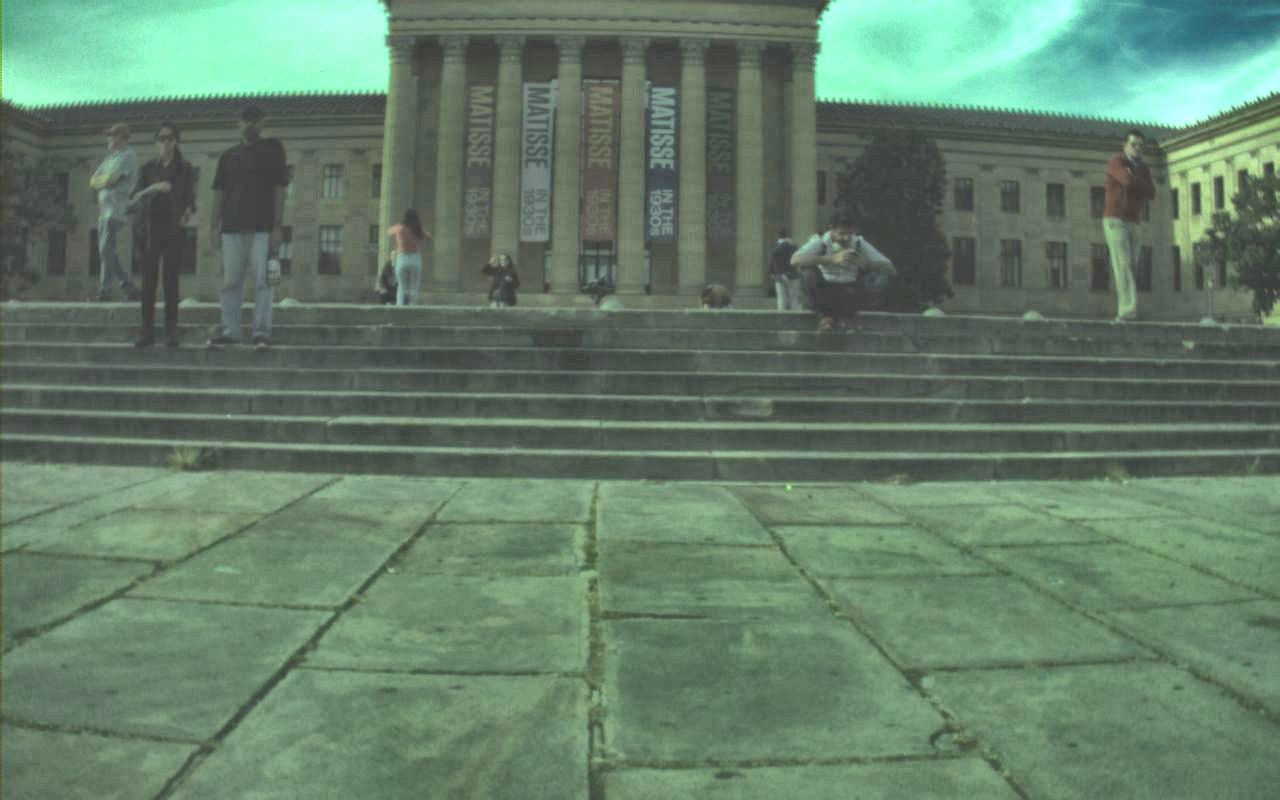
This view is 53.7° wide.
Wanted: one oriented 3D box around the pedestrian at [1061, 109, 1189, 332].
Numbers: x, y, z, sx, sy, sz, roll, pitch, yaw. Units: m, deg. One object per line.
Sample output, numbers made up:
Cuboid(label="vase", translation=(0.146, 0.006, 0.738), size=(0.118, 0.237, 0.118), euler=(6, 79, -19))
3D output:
Cuboid(label="pedestrian", translation=(4.224, -1.508, 10.262), size=(0.800, 1.835, 0.802), euler=(0, 0, -30))

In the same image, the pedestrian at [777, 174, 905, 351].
Cuboid(label="pedestrian", translation=(1.450, -0.976, 9.113), size=(0.899, 1.229, 0.787), euler=(0, 0, 6))

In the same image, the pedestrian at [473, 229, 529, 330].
Cuboid(label="pedestrian", translation=(-2.397, -2.060, 21.656), size=(0.815, 1.675, 0.809), euler=(0, 0, 3))

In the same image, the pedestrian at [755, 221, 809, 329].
Cuboid(label="pedestrian", translation=(2.405, -2.104, 21.334), size=(0.722, 1.759, 0.714), euler=(0, 0, -12))

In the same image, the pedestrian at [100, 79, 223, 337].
Cuboid(label="pedestrian", translation=(-3.447, -1.341, 8.436), size=(0.734, 1.789, 0.746), euler=(0, 0, -12))

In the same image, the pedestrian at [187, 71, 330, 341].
Cuboid(label="pedestrian", translation=(-2.685, -1.317, 8.462), size=(0.739, 1.819, 0.746), euler=(0, 0, 5))

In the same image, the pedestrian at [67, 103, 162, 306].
Cuboid(label="pedestrian", translation=(-5.084, -1.844, 11.155), size=(0.799, 1.885, 0.773), euler=(0, 0, -17))

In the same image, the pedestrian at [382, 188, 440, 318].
Cuboid(label="pedestrian", translation=(-3.249, -2.050, 17.530), size=(0.766, 1.766, 0.771), euler=(0, 0, -13))
